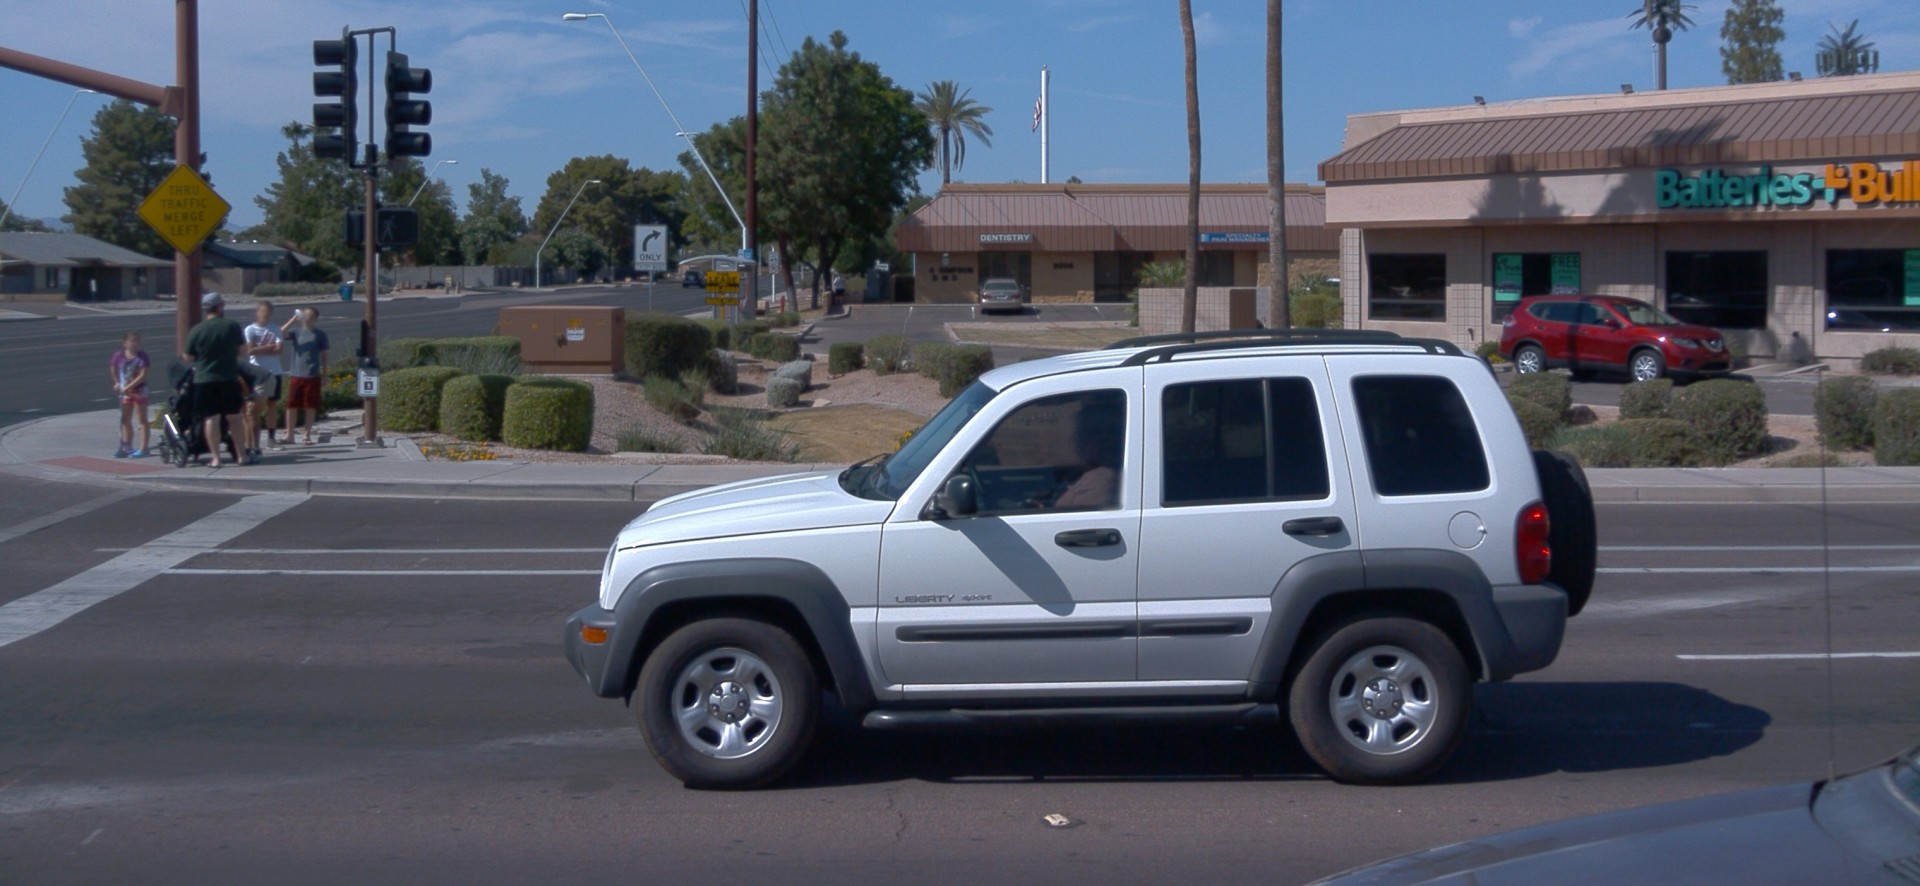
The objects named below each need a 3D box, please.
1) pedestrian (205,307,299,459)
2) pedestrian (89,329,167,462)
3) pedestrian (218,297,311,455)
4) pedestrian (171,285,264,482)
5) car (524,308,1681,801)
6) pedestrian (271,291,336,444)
[{"bbox_3d":[-7.588,-0.658,22.343,0.637,1.580,0.763,0,1,13],"label":"pedestrian"},{"bbox_3d":[-9.046,-0.527,22.667,0.646,1.400,0.565,0,1,-6],"label":"pedestrian"},{"bbox_3d":[-7.752,-0.761,23.233,0.684,1.711,0.702,0,1,22],"label":"pedestrian"},{"bbox_3d":[-7.547,-0.628,21.176,0.765,1.941,0.564,-1,0,-35],"label":"pedestrian"},{"bbox_3d":[0.555,0.361,9.131,4.506,1.828,2.049,0,3,-1],"label":"car"},{"bbox_3d":[-7.527,-0.875,23.879,0.659,1.711,0.496,0,0,-24],"label":"pedestrian"}]
